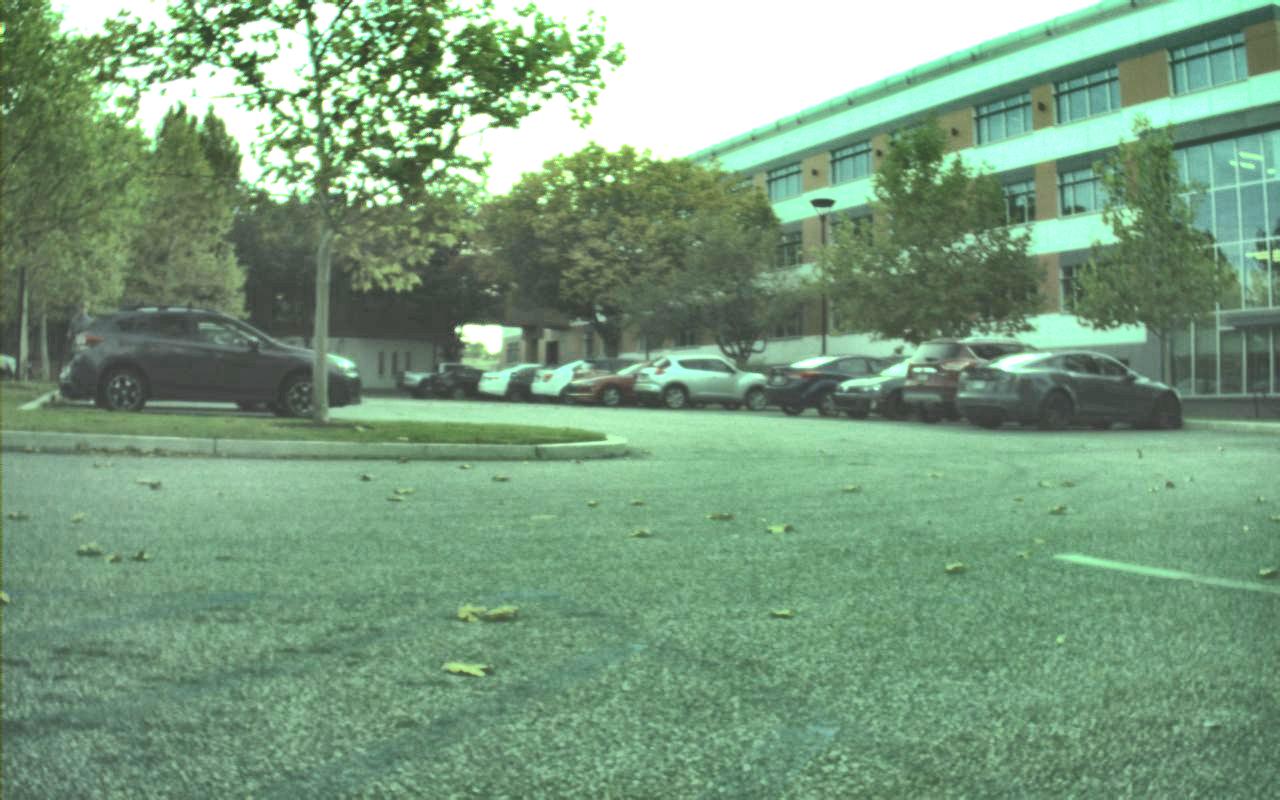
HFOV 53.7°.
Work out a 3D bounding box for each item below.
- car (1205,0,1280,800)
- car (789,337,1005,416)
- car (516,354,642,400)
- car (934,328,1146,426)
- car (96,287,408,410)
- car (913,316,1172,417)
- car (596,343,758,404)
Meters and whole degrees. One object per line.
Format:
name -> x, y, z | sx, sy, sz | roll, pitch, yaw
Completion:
car -> 4.102, -0.077, 2.876 | 2.038, 1.647, 4.622 | 0, 1, -22
car -> 5.498, -0.490, 26.406 | 4.375, 1.557, 1.895 | 0, 1, -25
car -> -2.321, -0.872, 47.364 | 4.526, 1.671, 1.974 | 0, 1, -10
car -> 7.988, -0.438, 23.905 | 4.482, 1.758, 1.954 | 0, 1, -33
car -> -5.802, -0.710, 17.666 | 4.566, 1.679, 1.958 | 0, 1, -25
car -> 7.186, -0.553, 21.396 | 4.490, 1.636, 1.969 | 0, 1, -20
car -> 1.056, -0.740, 35.595 | 4.172, 1.647, 1.867 | 0, 1, -23
